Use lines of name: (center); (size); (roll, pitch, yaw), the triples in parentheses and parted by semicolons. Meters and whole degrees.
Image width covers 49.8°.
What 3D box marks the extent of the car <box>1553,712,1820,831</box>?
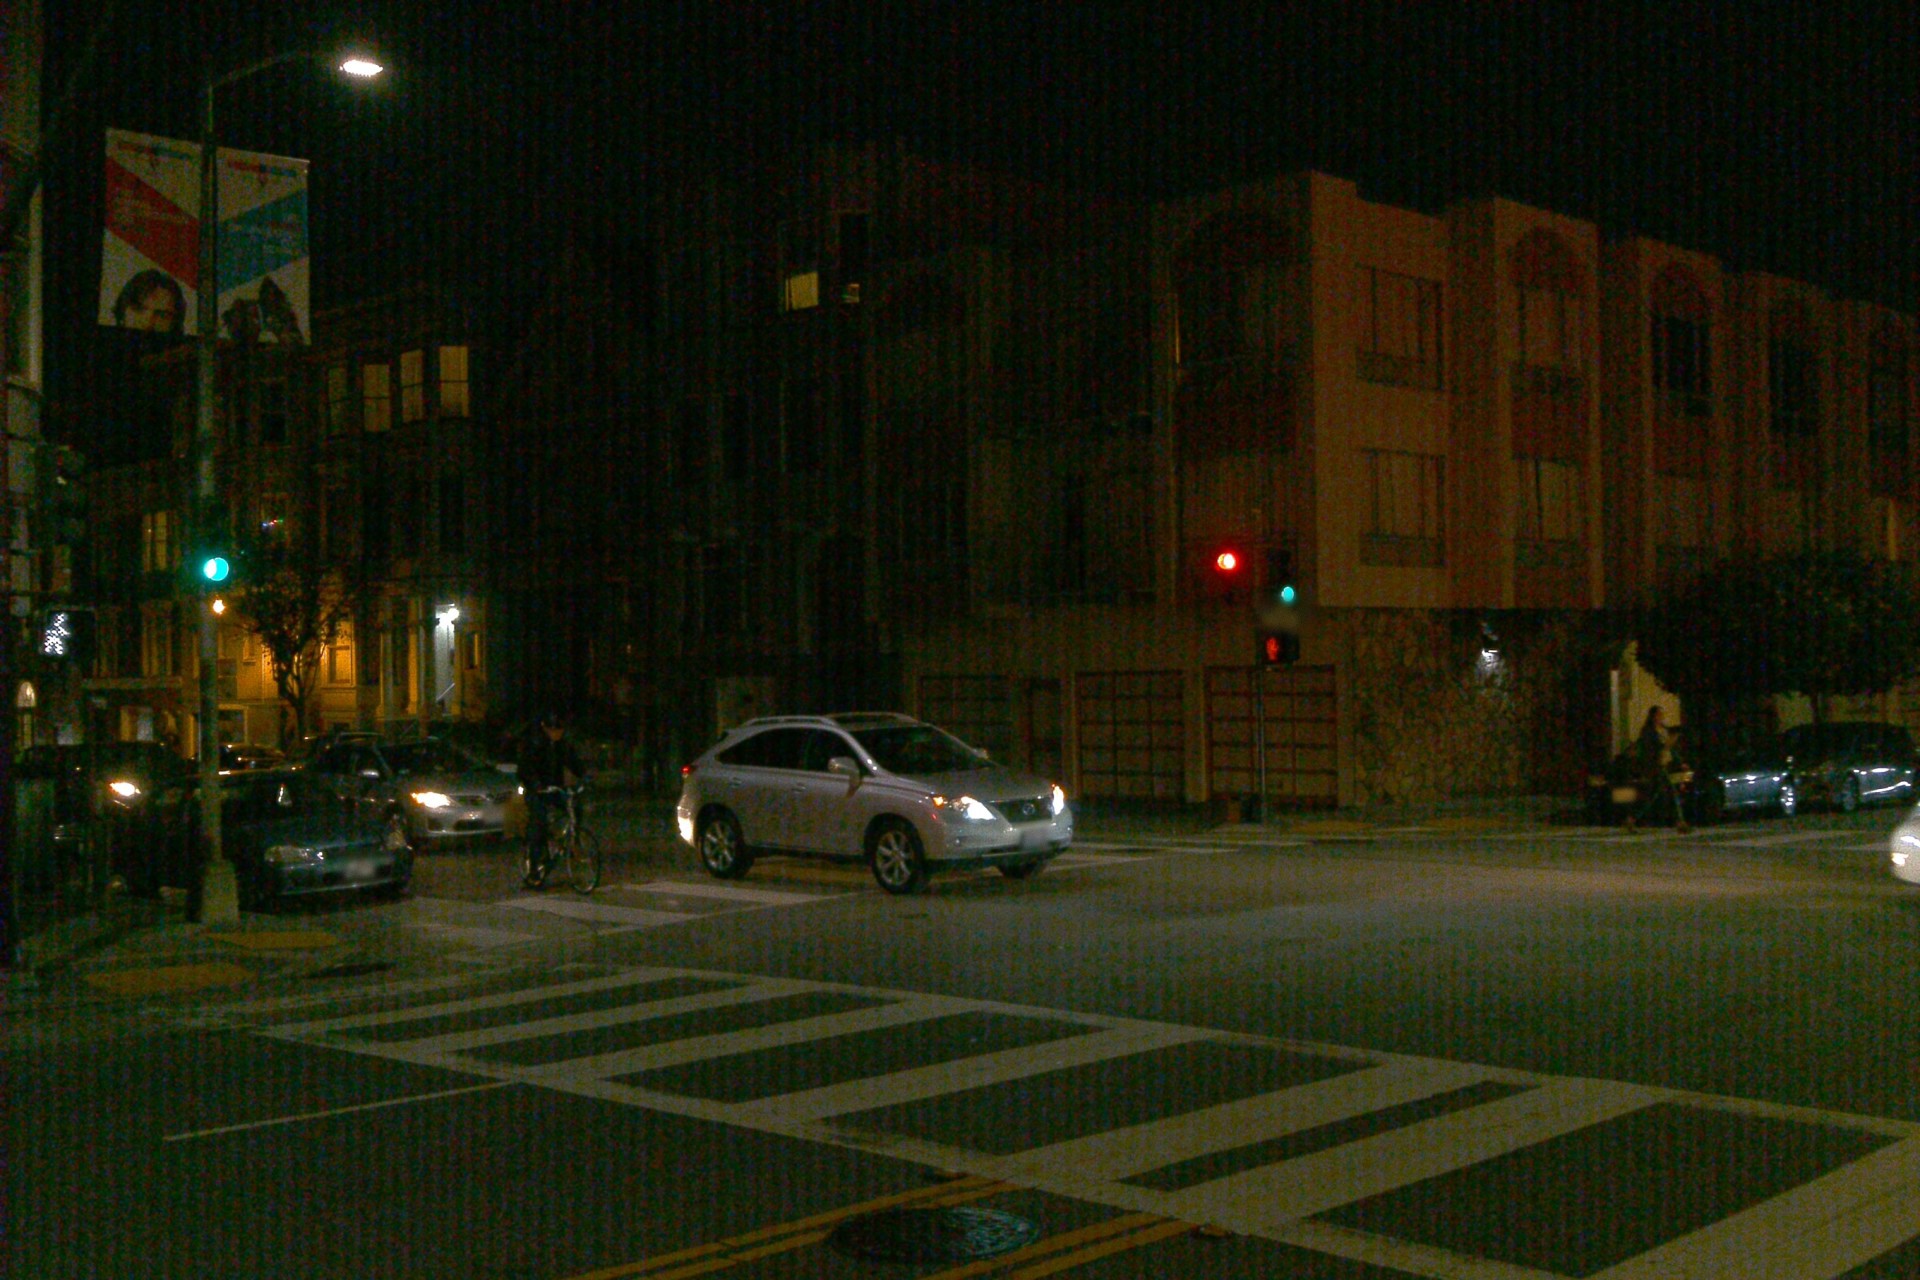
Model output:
car: (10.600, 1.836, 29.954); (1.967, 1.430, 4.633); (1, 0, 42)

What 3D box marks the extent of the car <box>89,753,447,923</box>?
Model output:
car: (-7.496, 2.036, 22.146); (1.946, 1.350, 4.278); (1, 0, -44)

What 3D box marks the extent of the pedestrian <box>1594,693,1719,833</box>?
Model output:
pedestrian: (8.872, 1.545, 26.313); (0.935, 1.690, 1.175); (1, 0, -44)

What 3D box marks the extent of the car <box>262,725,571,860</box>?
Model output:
car: (-7.475, 2.001, 28.173); (2.125, 1.450, 4.459); (1, 0, -44)

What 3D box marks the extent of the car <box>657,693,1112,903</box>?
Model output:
car: (-0.885, 1.523, 21.493); (2.139, 1.760, 4.613); (1, 0, -45)

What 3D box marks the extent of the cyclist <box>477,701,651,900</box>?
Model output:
cyclist: (-4.096, 1.604, 21.282); (0.832, 1.870, 1.925); (1, 0, -43)

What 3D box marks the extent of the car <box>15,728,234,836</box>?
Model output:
car: (-14.377, 2.379, 35.429); (2.021, 1.480, 4.494); (1, 0, -42)
